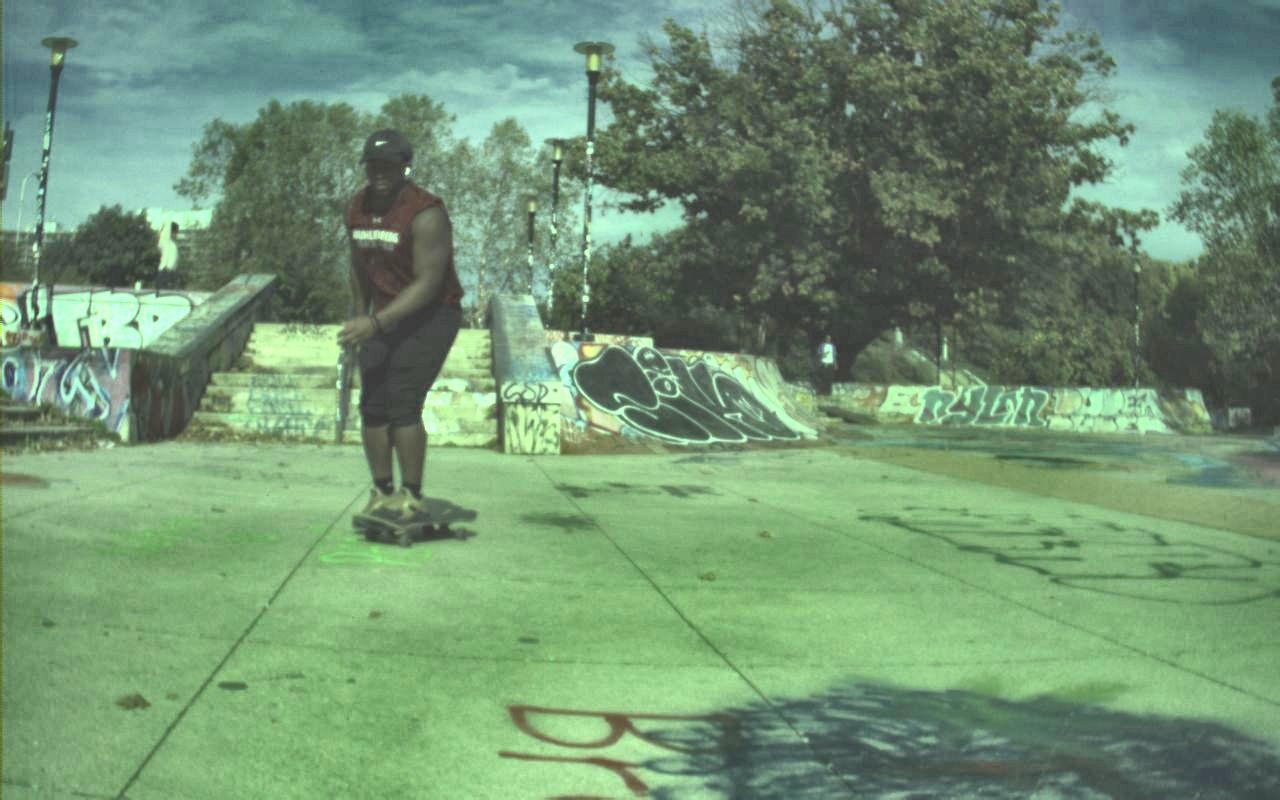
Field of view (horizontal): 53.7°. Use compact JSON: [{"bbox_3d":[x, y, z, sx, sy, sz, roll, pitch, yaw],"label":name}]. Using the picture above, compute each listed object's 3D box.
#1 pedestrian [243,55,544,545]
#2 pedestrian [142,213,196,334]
[{"bbox_3d":[-0.963,-0.369,4.850,0.802,1.710,0.910,1,0,26],"label":"pedestrian"},{"bbox_3d":[-7.733,-2.017,19.341,0.633,1.927,0.650,0,0,11],"label":"pedestrian"}]
